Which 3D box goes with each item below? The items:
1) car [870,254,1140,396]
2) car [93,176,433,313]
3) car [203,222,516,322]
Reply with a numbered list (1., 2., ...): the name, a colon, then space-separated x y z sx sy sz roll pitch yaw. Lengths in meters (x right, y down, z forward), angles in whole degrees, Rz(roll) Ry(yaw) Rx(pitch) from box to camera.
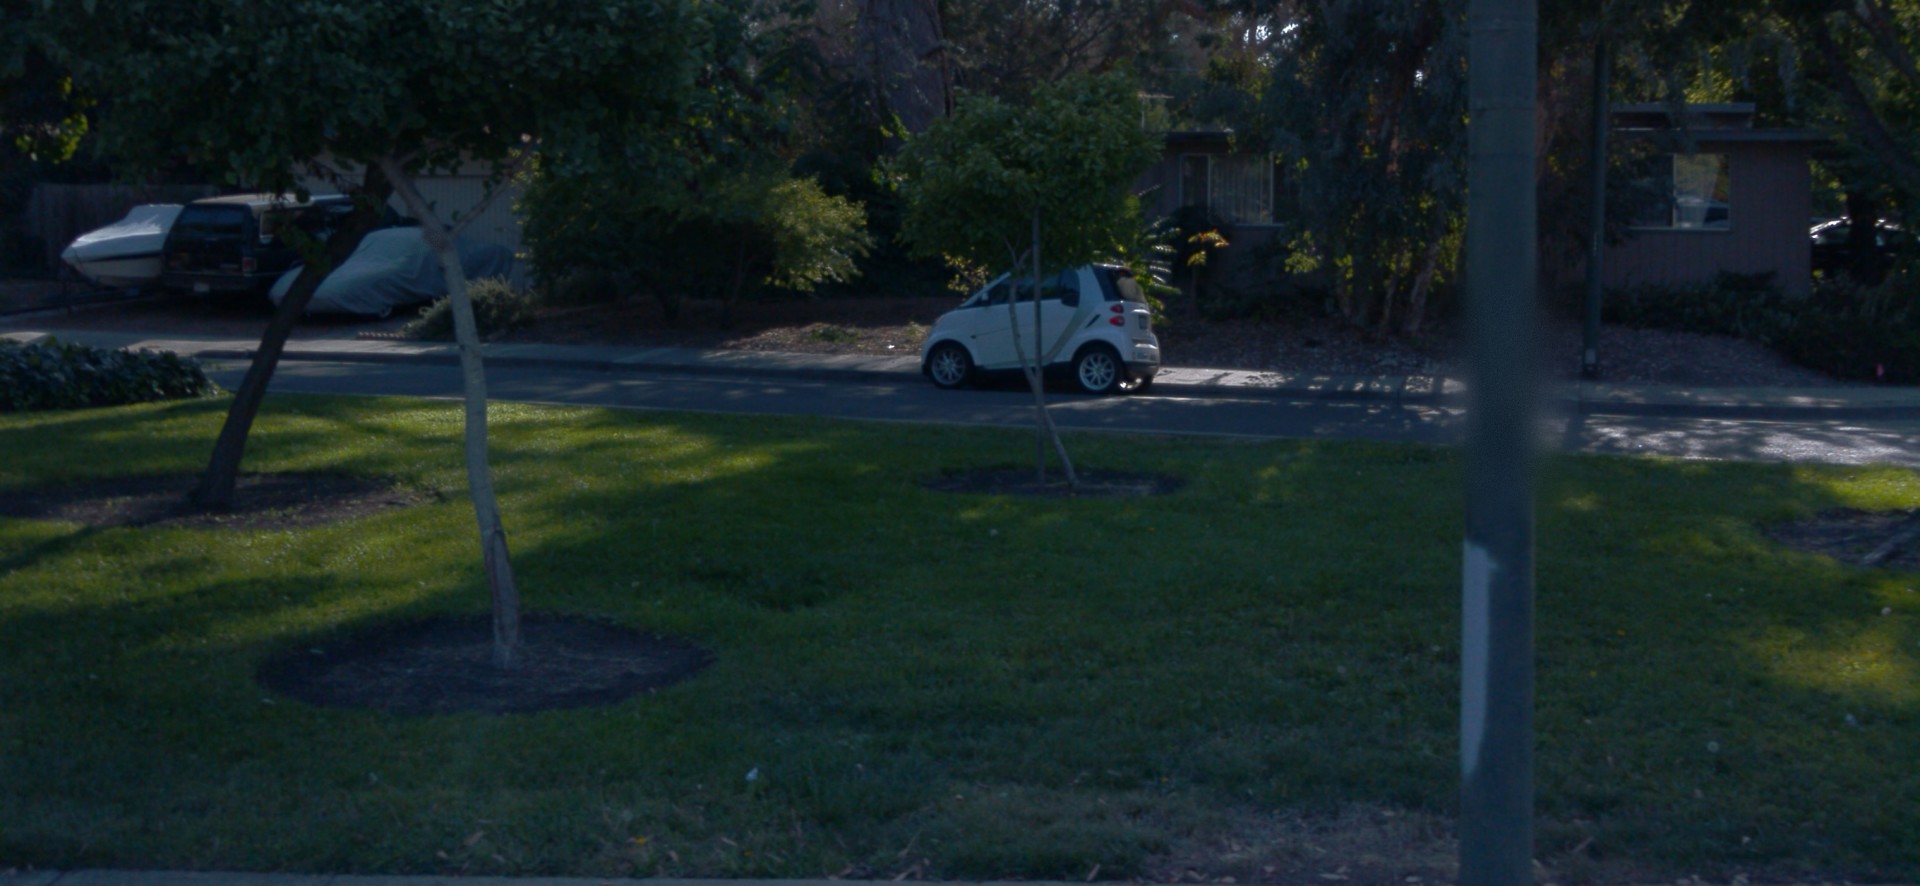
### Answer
1. car: 0.552 -1.433 24.555 2.747 1.548 1.665 2 3 20
2. car: -11.590 -3.343 35.162 2.212 2.104 5.514 2 5 25
3. car: -9.696 -2.830 34.136 2.133 1.495 4.975 2 5 25
